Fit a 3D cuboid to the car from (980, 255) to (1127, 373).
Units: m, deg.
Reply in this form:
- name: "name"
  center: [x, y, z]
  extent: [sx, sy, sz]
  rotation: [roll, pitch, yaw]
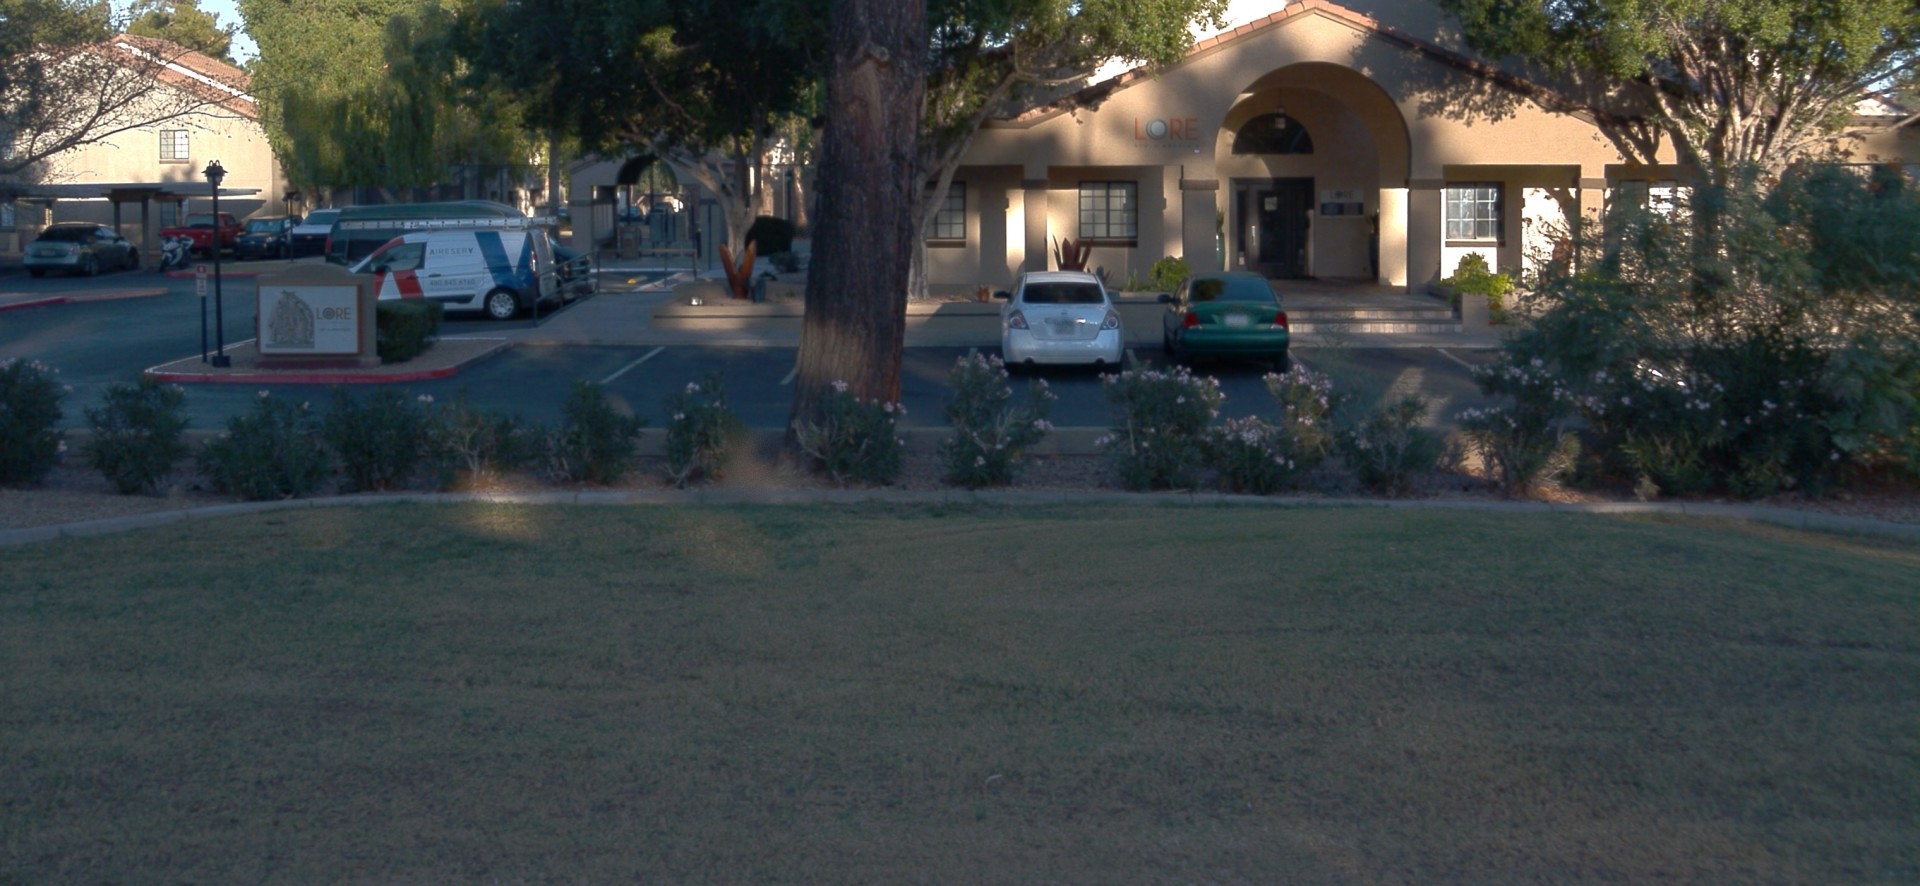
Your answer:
- name: "car"
  center: [1.370, -2.053, 31.839]
  extent: [2.100, 1.624, 4.627]
  rotation: [0, 5, 1]

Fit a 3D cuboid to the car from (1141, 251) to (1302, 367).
- name: "car"
  center: [3.980, -2.150, 32.241]
  extent: [1.975, 1.624, 4.674]
  rotation: [0, 5, 1]
